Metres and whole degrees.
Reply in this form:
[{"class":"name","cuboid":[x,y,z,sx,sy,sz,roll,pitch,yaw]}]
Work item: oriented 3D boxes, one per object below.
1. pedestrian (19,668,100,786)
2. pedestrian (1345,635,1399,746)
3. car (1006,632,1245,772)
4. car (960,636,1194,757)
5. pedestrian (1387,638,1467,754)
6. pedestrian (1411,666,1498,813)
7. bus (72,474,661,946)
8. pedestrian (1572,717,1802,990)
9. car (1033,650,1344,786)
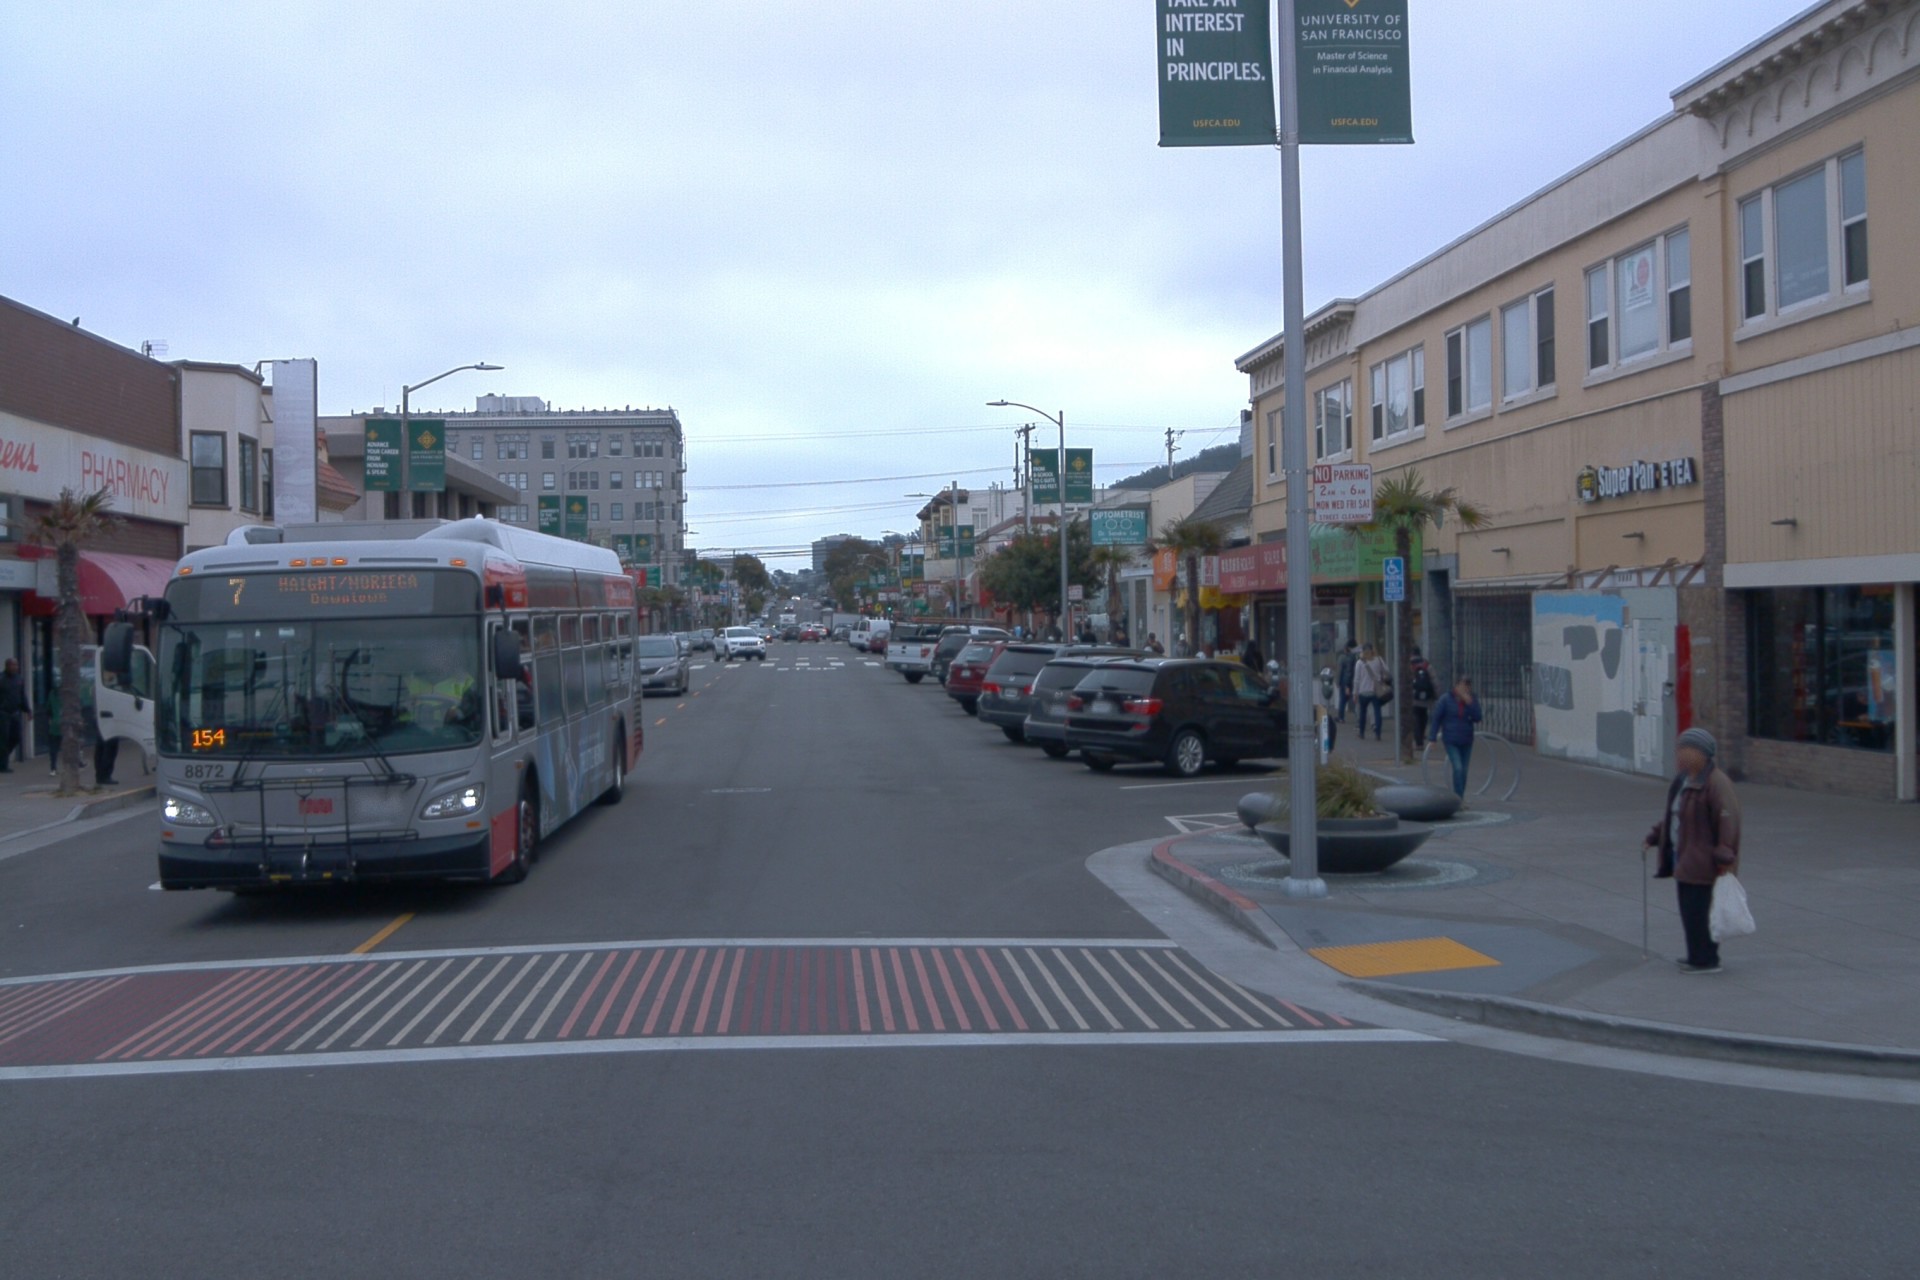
[{"class":"pedestrian","cuboid":[-13.625,1.301,31.134,0.767,1.713,1.103,0,1,-3]},{"class":"pedestrian","cuboid":[6.930,0.836,34.598,0.711,1.824,0.916,0,1,-1]},{"class":"car","cuboid":[2.651,0.913,32.526,3.671,2.040,1.761,-1,1,-44]},{"class":"car","cuboid":[2.066,0.920,35.761,3.847,1.931,1.922,-1,1,-43]},{"class":"pedestrian","cuboid":[7.325,0.858,32.288,0.922,1.770,0.951,0,1,-9]},{"class":"pedestrian","cuboid":[5.555,1.105,23.135,0.747,1.598,0.778,0,1,-3]},{"class":"bus","cuboid":[-5.304,0.413,21.552,3.211,3.480,12.601,0,1,-3]},{"class":"pedestrian","cuboid":[4.305,1.230,12.243,0.828,1.477,1.072,-1,1,-14]},{"class":"car","cuboid":[3.409,1.072,30.163,4.509,1.740,2.044,-1,1,-42]}]
